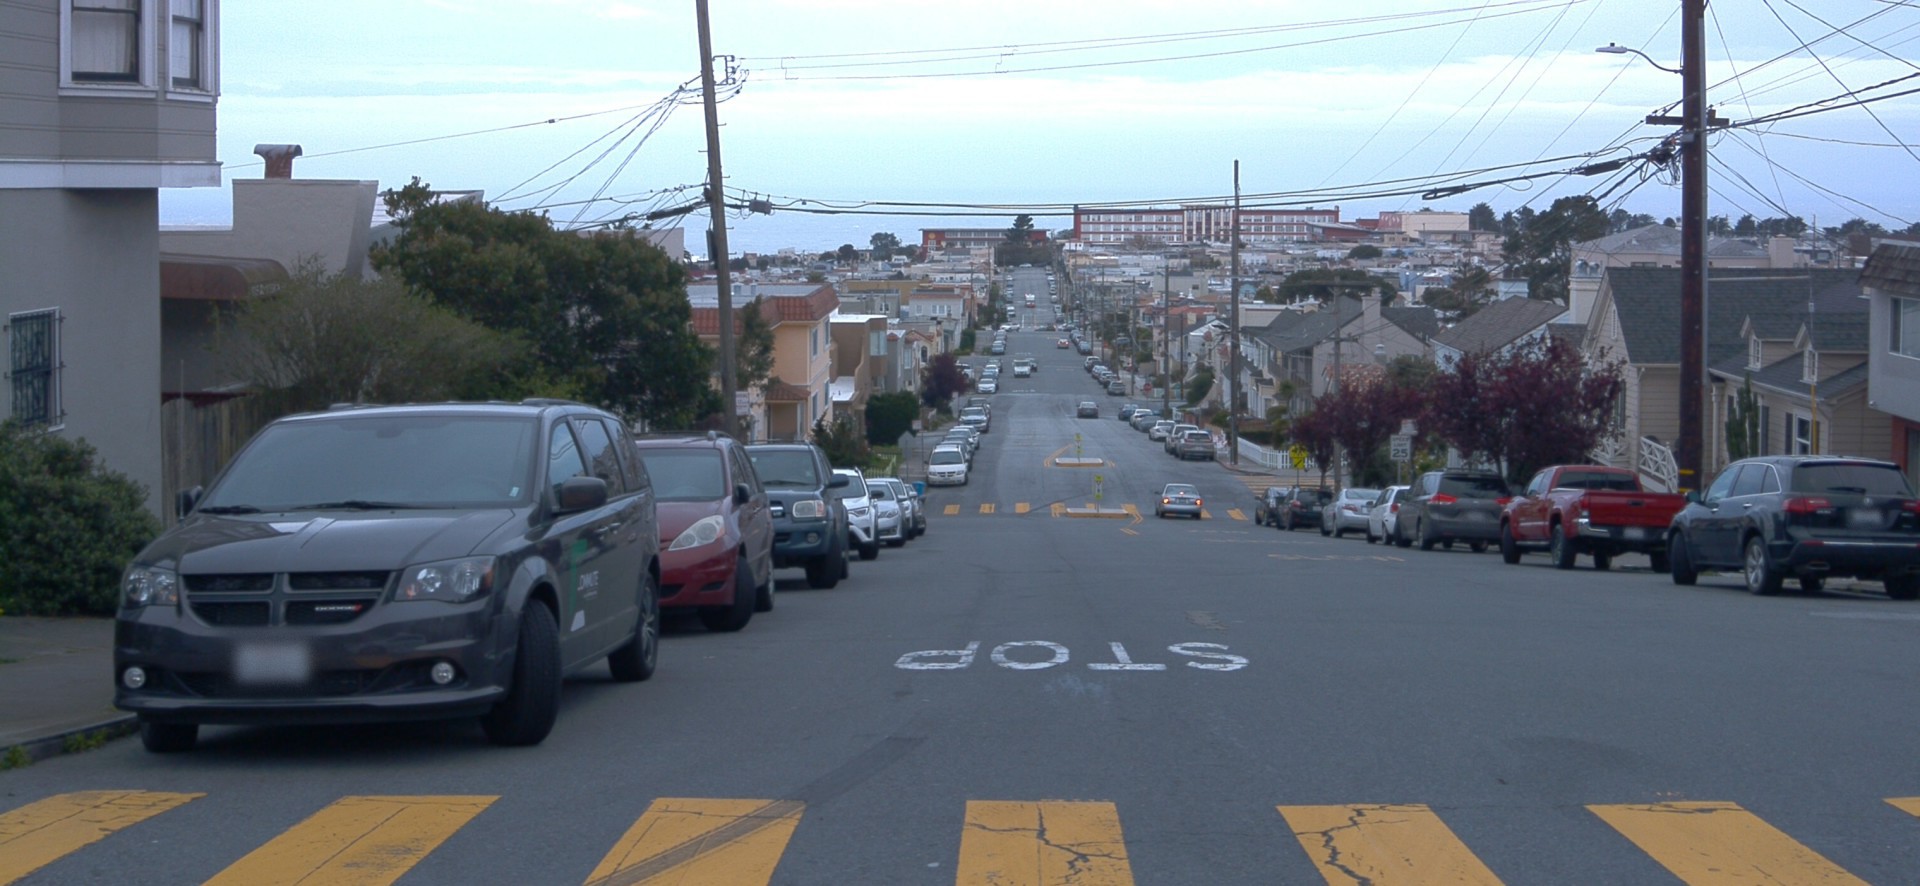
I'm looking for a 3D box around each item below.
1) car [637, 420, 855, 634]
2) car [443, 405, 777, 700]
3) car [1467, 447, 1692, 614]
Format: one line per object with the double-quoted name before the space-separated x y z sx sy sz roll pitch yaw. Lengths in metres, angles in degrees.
"car" -2.672 0.966 26.866 2.271 2.062 5.071 0 5 0
"car" -3.038 0.838 19.044 2.315 1.932 5.063 0 5 -1
"car" 10.371 1.381 34.821 2.331 2.072 5.092 0 5 1
